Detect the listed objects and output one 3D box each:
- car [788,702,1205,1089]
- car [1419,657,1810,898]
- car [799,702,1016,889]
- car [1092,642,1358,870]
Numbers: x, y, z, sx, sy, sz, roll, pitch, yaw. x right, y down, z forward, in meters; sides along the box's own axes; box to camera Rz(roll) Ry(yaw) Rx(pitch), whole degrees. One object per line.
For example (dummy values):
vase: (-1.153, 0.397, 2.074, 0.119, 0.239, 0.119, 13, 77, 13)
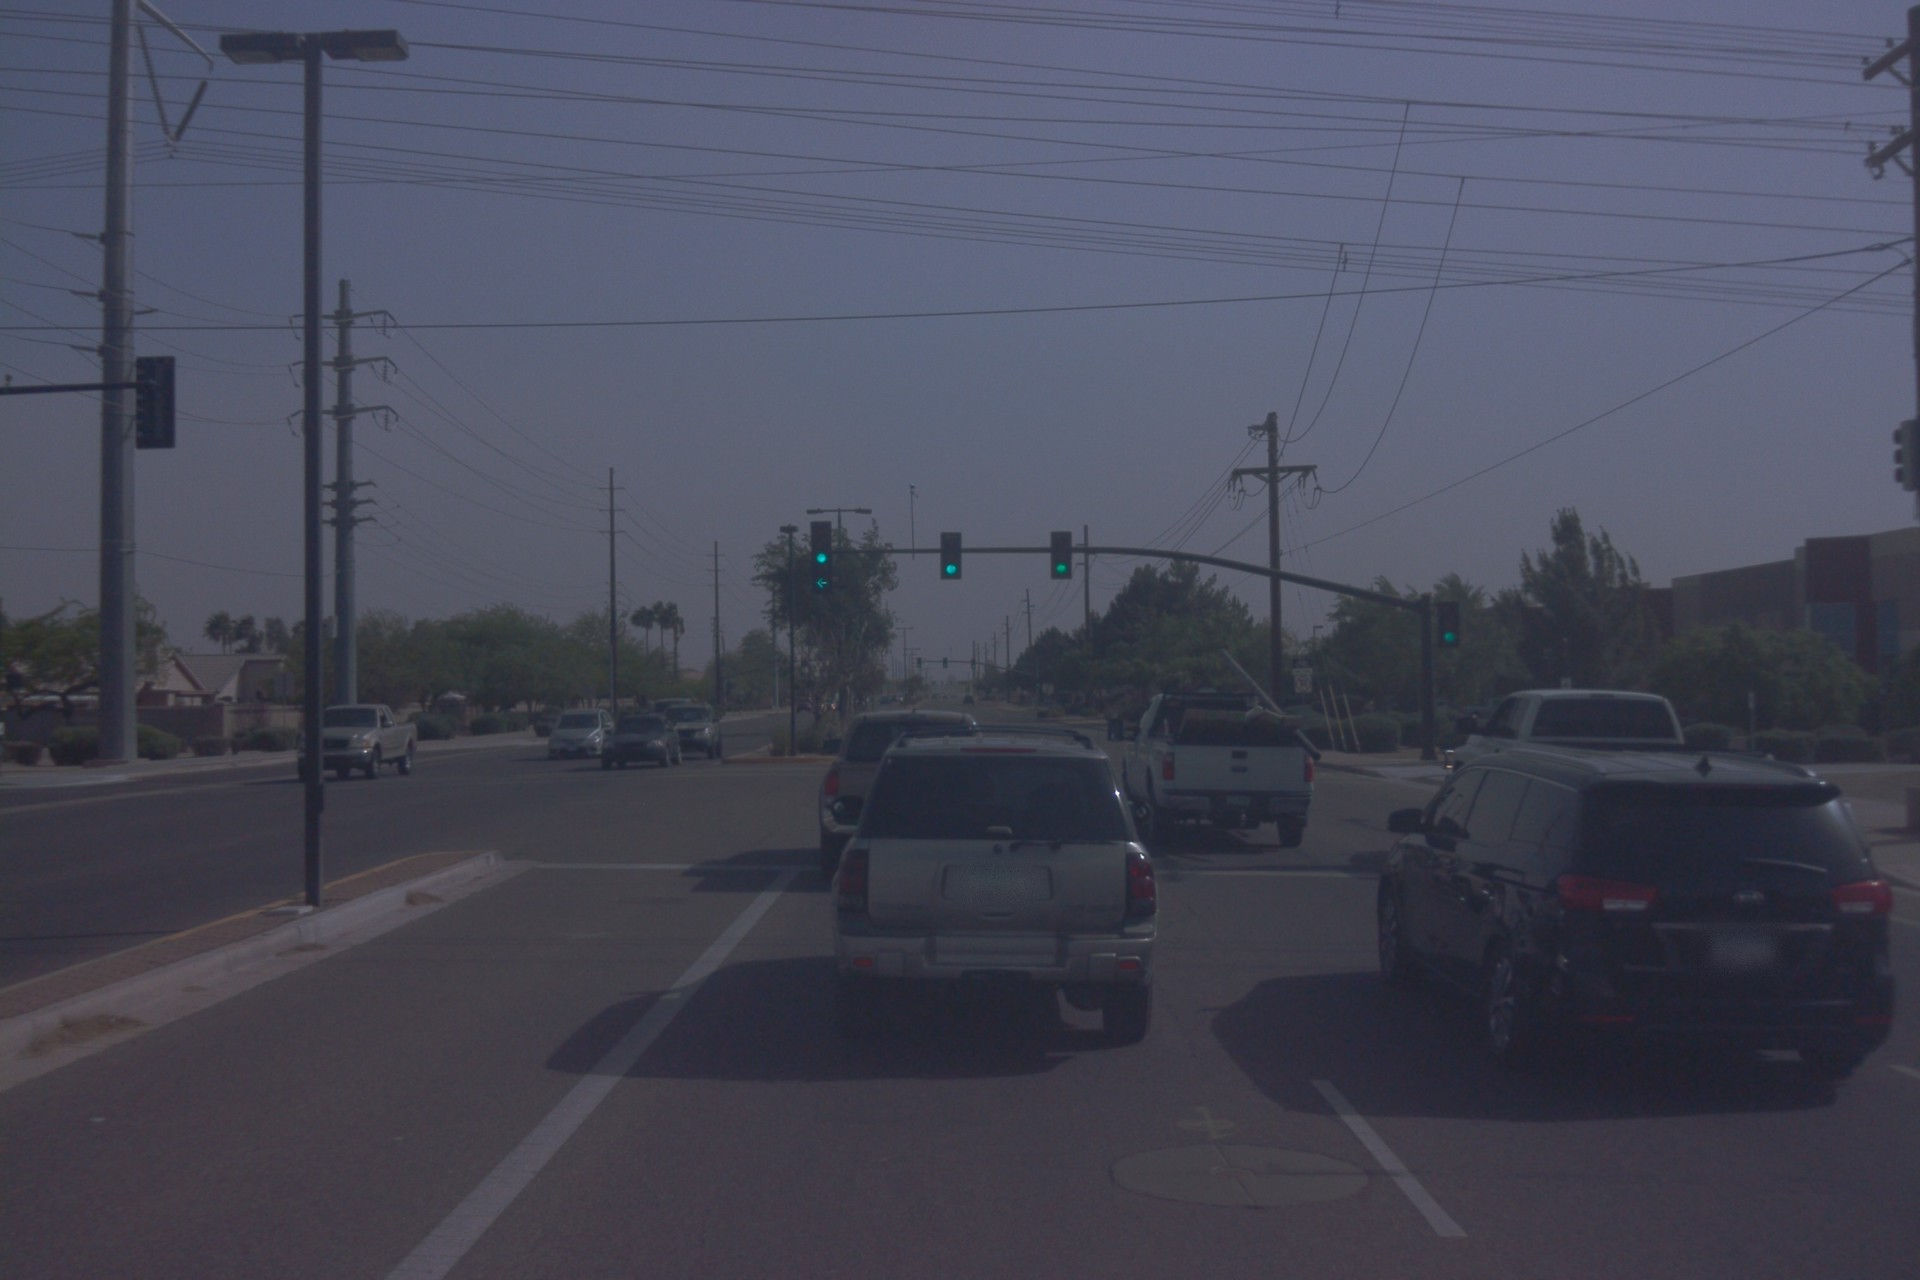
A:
car: (0.211, 1.426, 13.418, 2.202, 1.960, 4.684, 0, -1, 1)
car: (7.149, 1.390, 23.715, 2.415, 2.350, 6.496, 0, -1, 0)
car: (-0.519, 1.616, 22.926, 2.149, 1.780, 4.304, 0, -1, 0)
car: (3.388, 1.434, 28.317, 2.664, 2.710, 6.759, 0, -1, -1)
